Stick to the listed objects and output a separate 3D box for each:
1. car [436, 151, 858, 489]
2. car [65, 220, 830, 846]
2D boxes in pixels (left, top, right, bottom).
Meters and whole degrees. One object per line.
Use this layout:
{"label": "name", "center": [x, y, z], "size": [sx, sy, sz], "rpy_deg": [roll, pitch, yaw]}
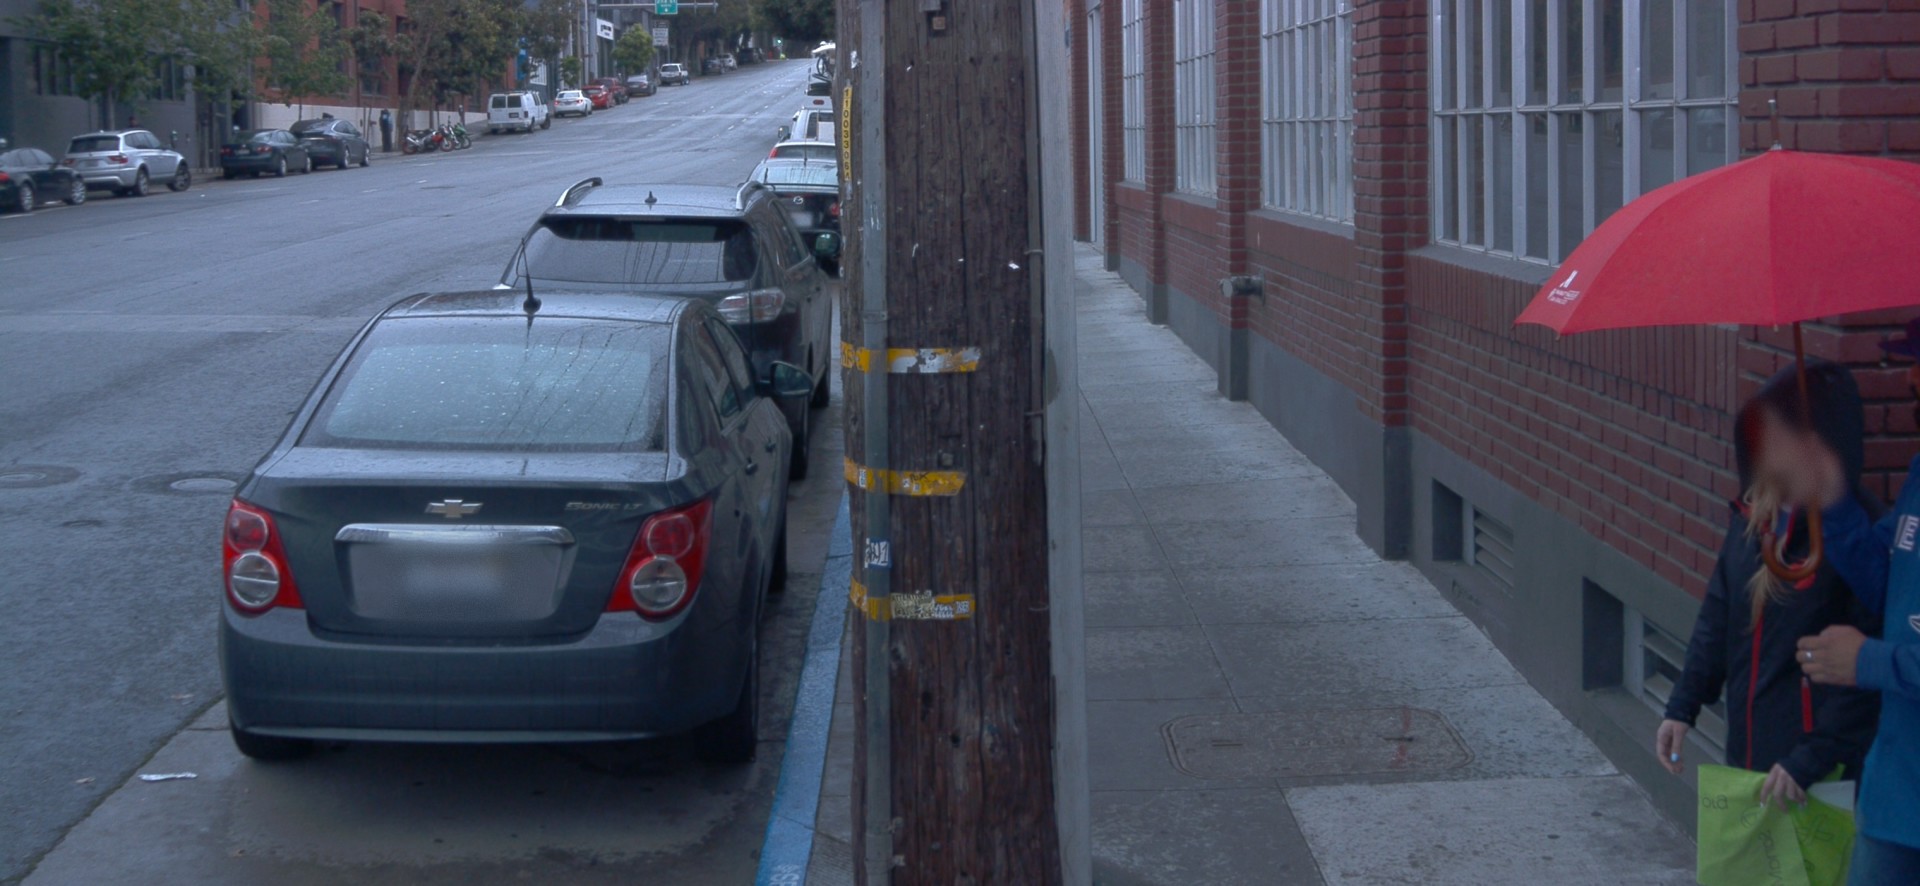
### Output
{"label": "car", "center": [-1.796, -0.910, 13.428], "size": [2.171, 1.812, 4.552], "rpy_deg": [0, 5, -2]}
{"label": "car", "center": [-1.588, 0.014, 8.086], "size": [2.038, 1.752, 4.423], "rpy_deg": [0, 5, -2]}
